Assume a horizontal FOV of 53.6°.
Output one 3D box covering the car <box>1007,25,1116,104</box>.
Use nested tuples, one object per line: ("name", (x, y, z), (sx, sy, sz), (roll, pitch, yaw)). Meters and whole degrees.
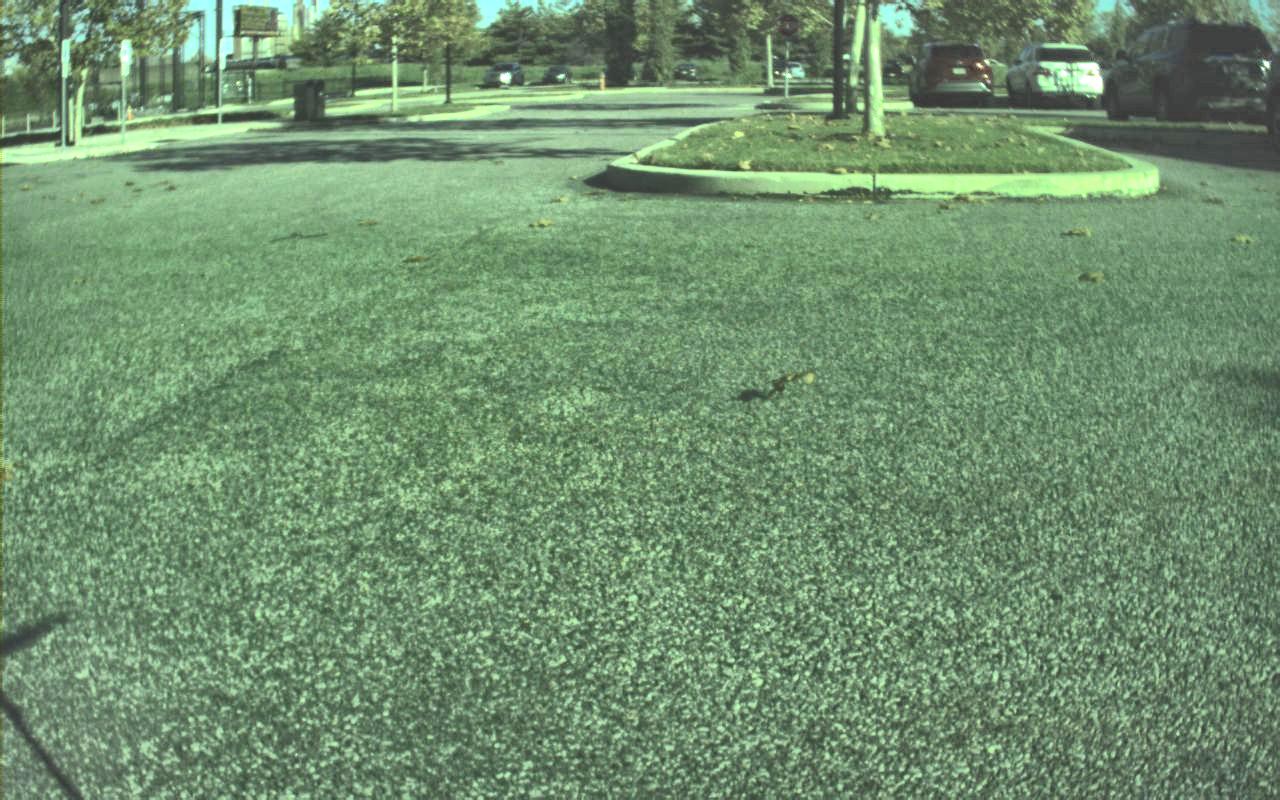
("car", (11.107, -8.931, 31.201), (2.033, 1.857, 4.686), (1, 17, 6))

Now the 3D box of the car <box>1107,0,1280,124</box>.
("car", (8.706, -5.345, 17.454), (1.978, 1.725, 4.600), (1, 17, 6))
